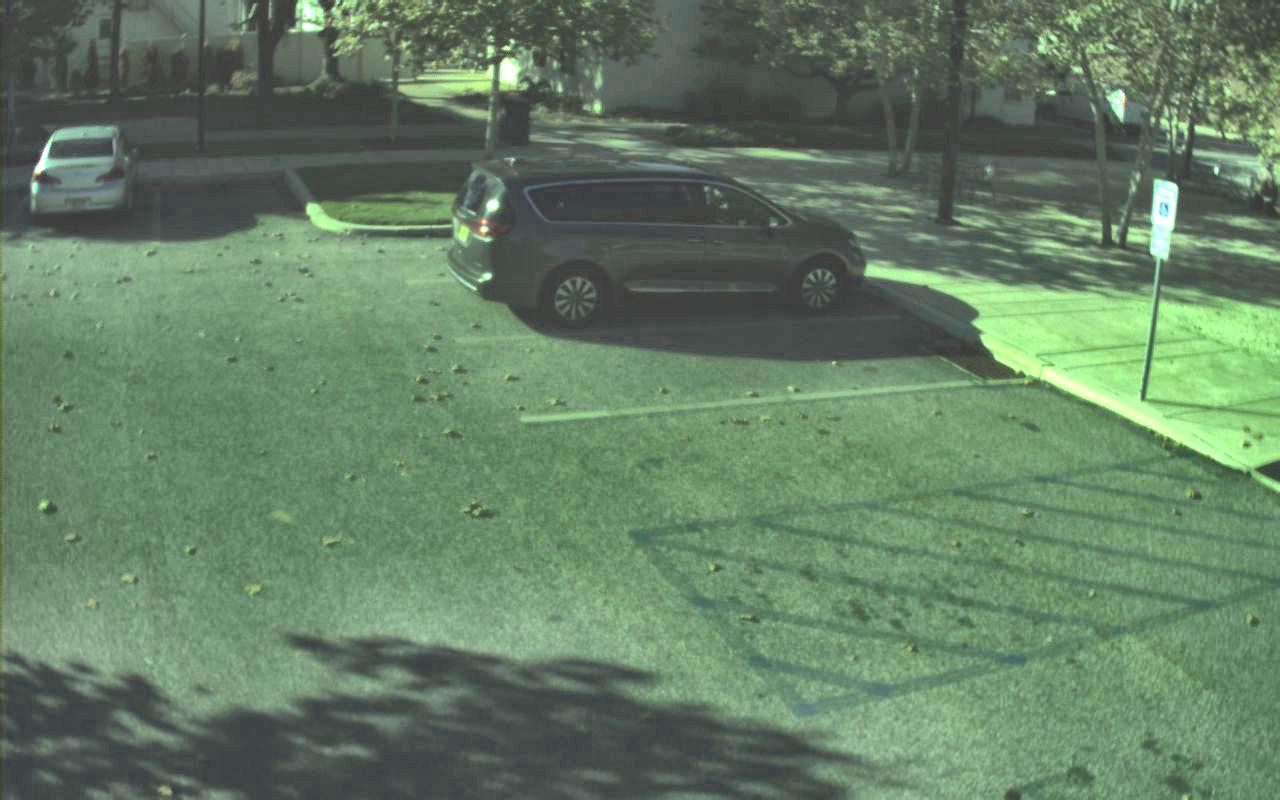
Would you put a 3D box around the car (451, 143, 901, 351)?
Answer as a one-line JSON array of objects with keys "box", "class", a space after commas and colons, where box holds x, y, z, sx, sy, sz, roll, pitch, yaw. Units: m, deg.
[{"box": [0.443, -1.945, 14.766, 4.905, 1.772, 2.063, -8, 17, -21], "class": "car"}]

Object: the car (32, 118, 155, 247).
[{"box": [-9.222, -3.756, 19.412, 1.933, 1.567, 4.488, -8, 18, -22], "class": "car"}]
